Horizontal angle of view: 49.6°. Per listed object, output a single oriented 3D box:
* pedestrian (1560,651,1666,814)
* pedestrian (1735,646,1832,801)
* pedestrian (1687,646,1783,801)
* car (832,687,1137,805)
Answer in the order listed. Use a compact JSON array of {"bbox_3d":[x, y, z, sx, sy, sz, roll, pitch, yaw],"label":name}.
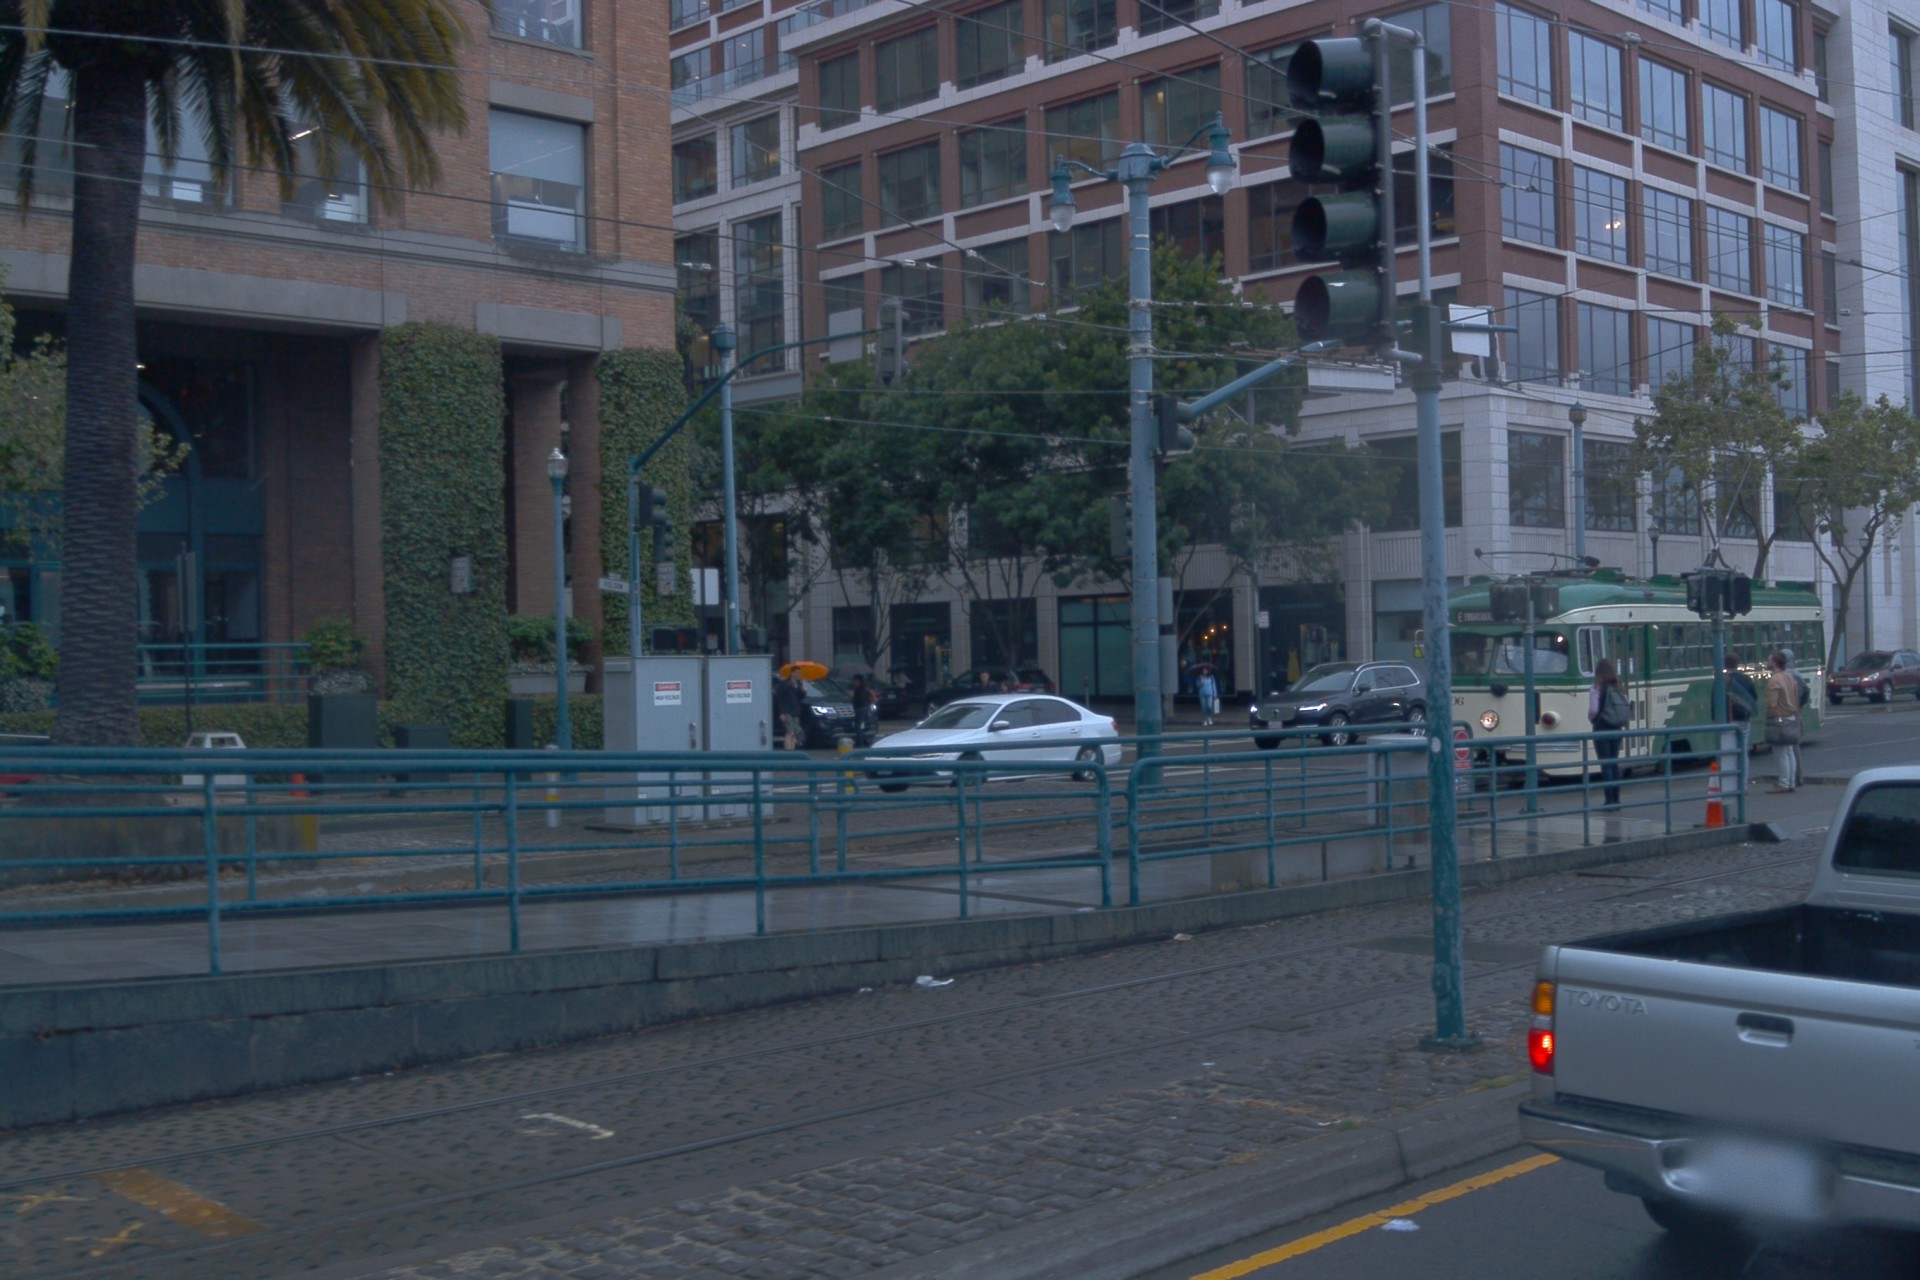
[{"bbox_3d":[7.551,1.047,24.069,0.852,1.840,0.831,0,0,-37],"label":"pedestrian"},{"bbox_3d":[10.478,1.036,26.470,0.878,1.920,0.851,0,0,-42],"label":"pedestrian"},{"bbox_3d":[9.798,1.042,26.311,0.824,1.920,0.879,0,0,-10],"label":"pedestrian"},{"bbox_3d":[0.441,1.536,31.397,1.980,1.550,4.592,0,0,44],"label":"car"}]
